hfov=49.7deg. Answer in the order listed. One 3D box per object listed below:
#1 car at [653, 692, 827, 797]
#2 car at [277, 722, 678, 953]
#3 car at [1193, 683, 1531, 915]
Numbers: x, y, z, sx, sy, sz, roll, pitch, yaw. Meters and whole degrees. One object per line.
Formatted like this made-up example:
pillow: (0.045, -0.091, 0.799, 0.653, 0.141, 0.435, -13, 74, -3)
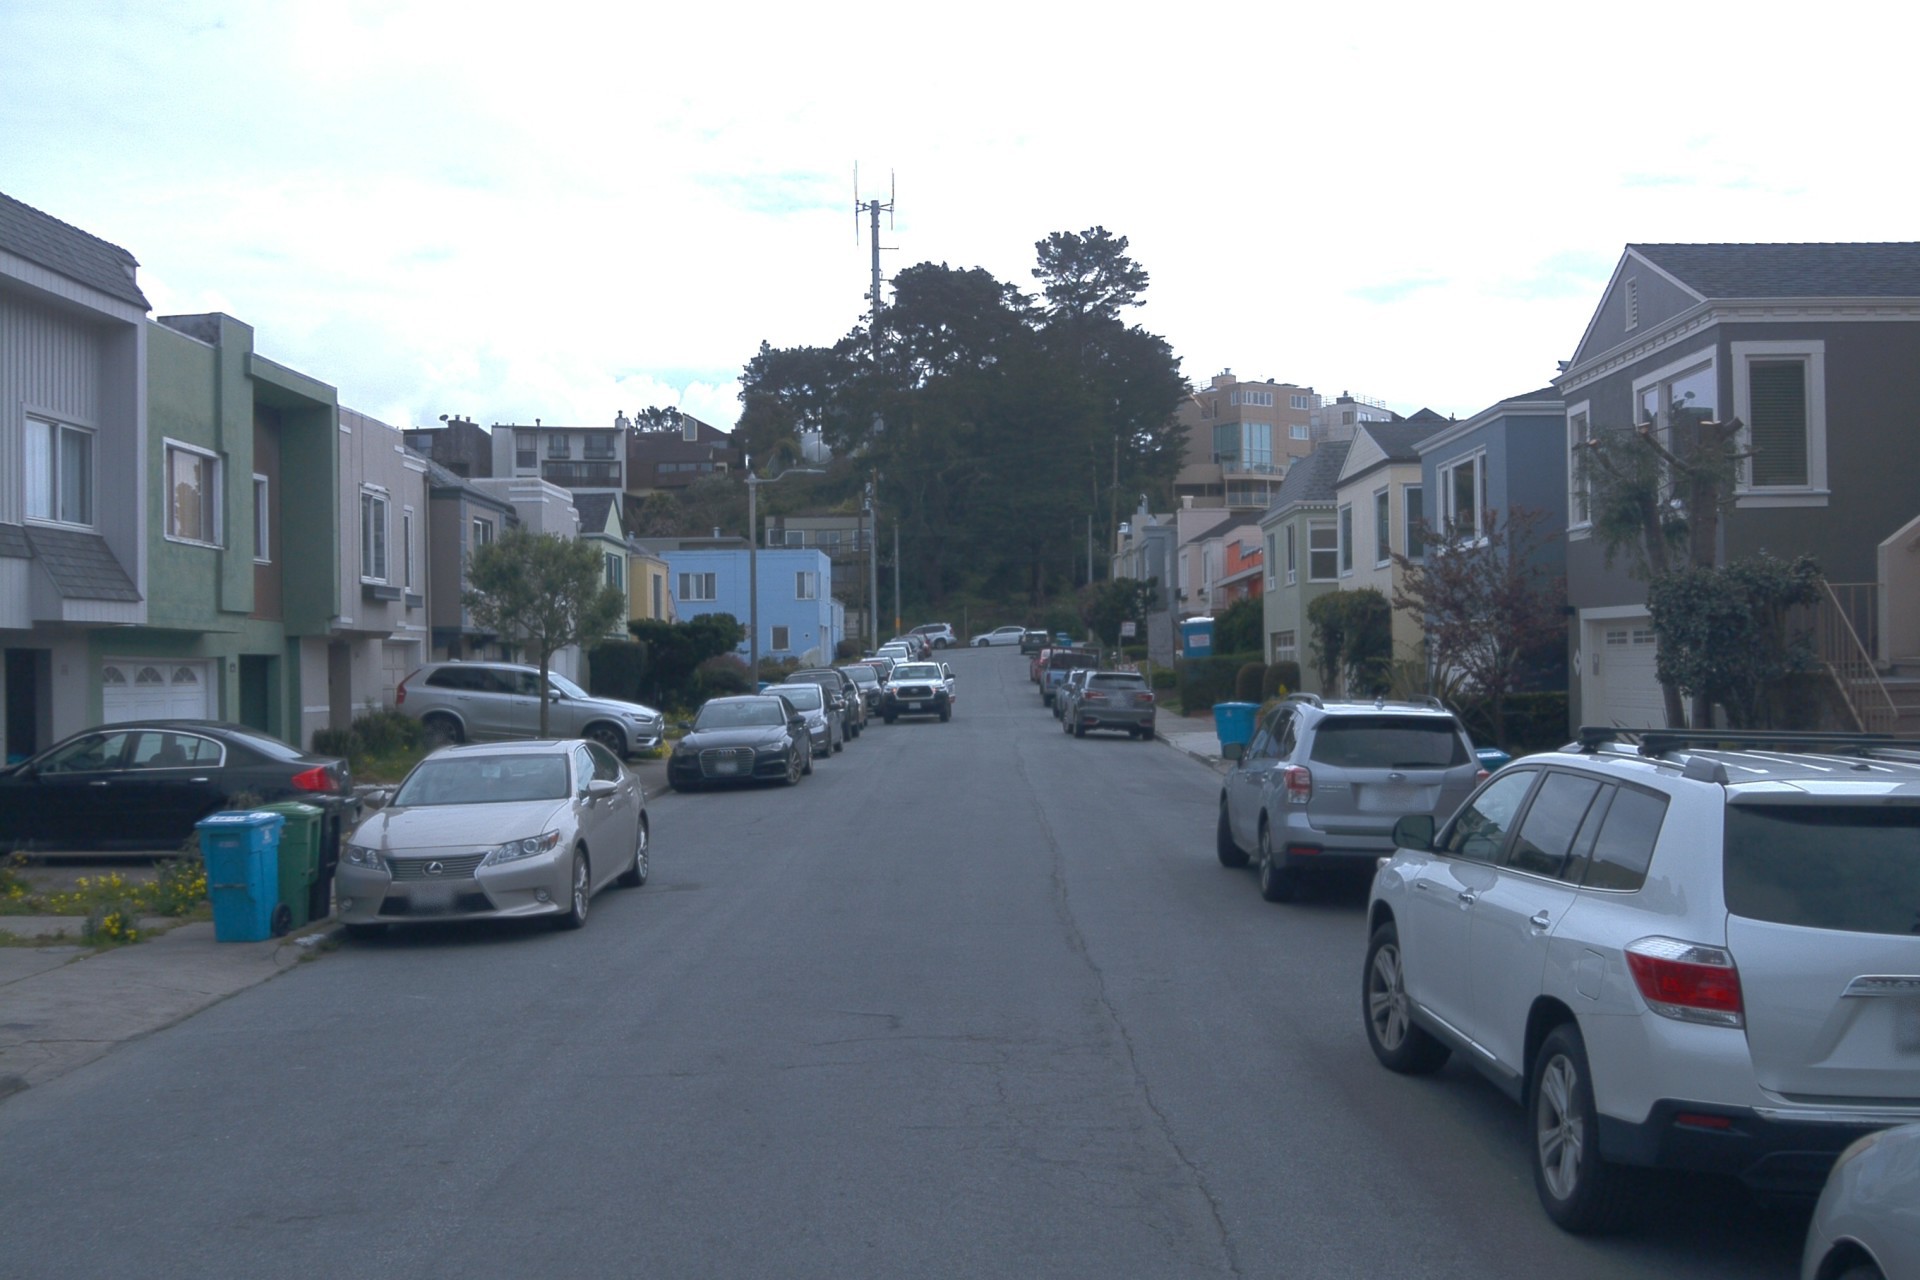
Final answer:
car: (-3.495, 1.646, 33.855, 2.205, 1.490, 4.920, 0, 0, 1)
car: (-3.864, 1.538, 17.628, 2.130, 1.510, 5.019, 0, 0, 1)
car: (3.400, 1.290, 18.540, 2.102, 1.730, 4.779, 0, 0, 0)
